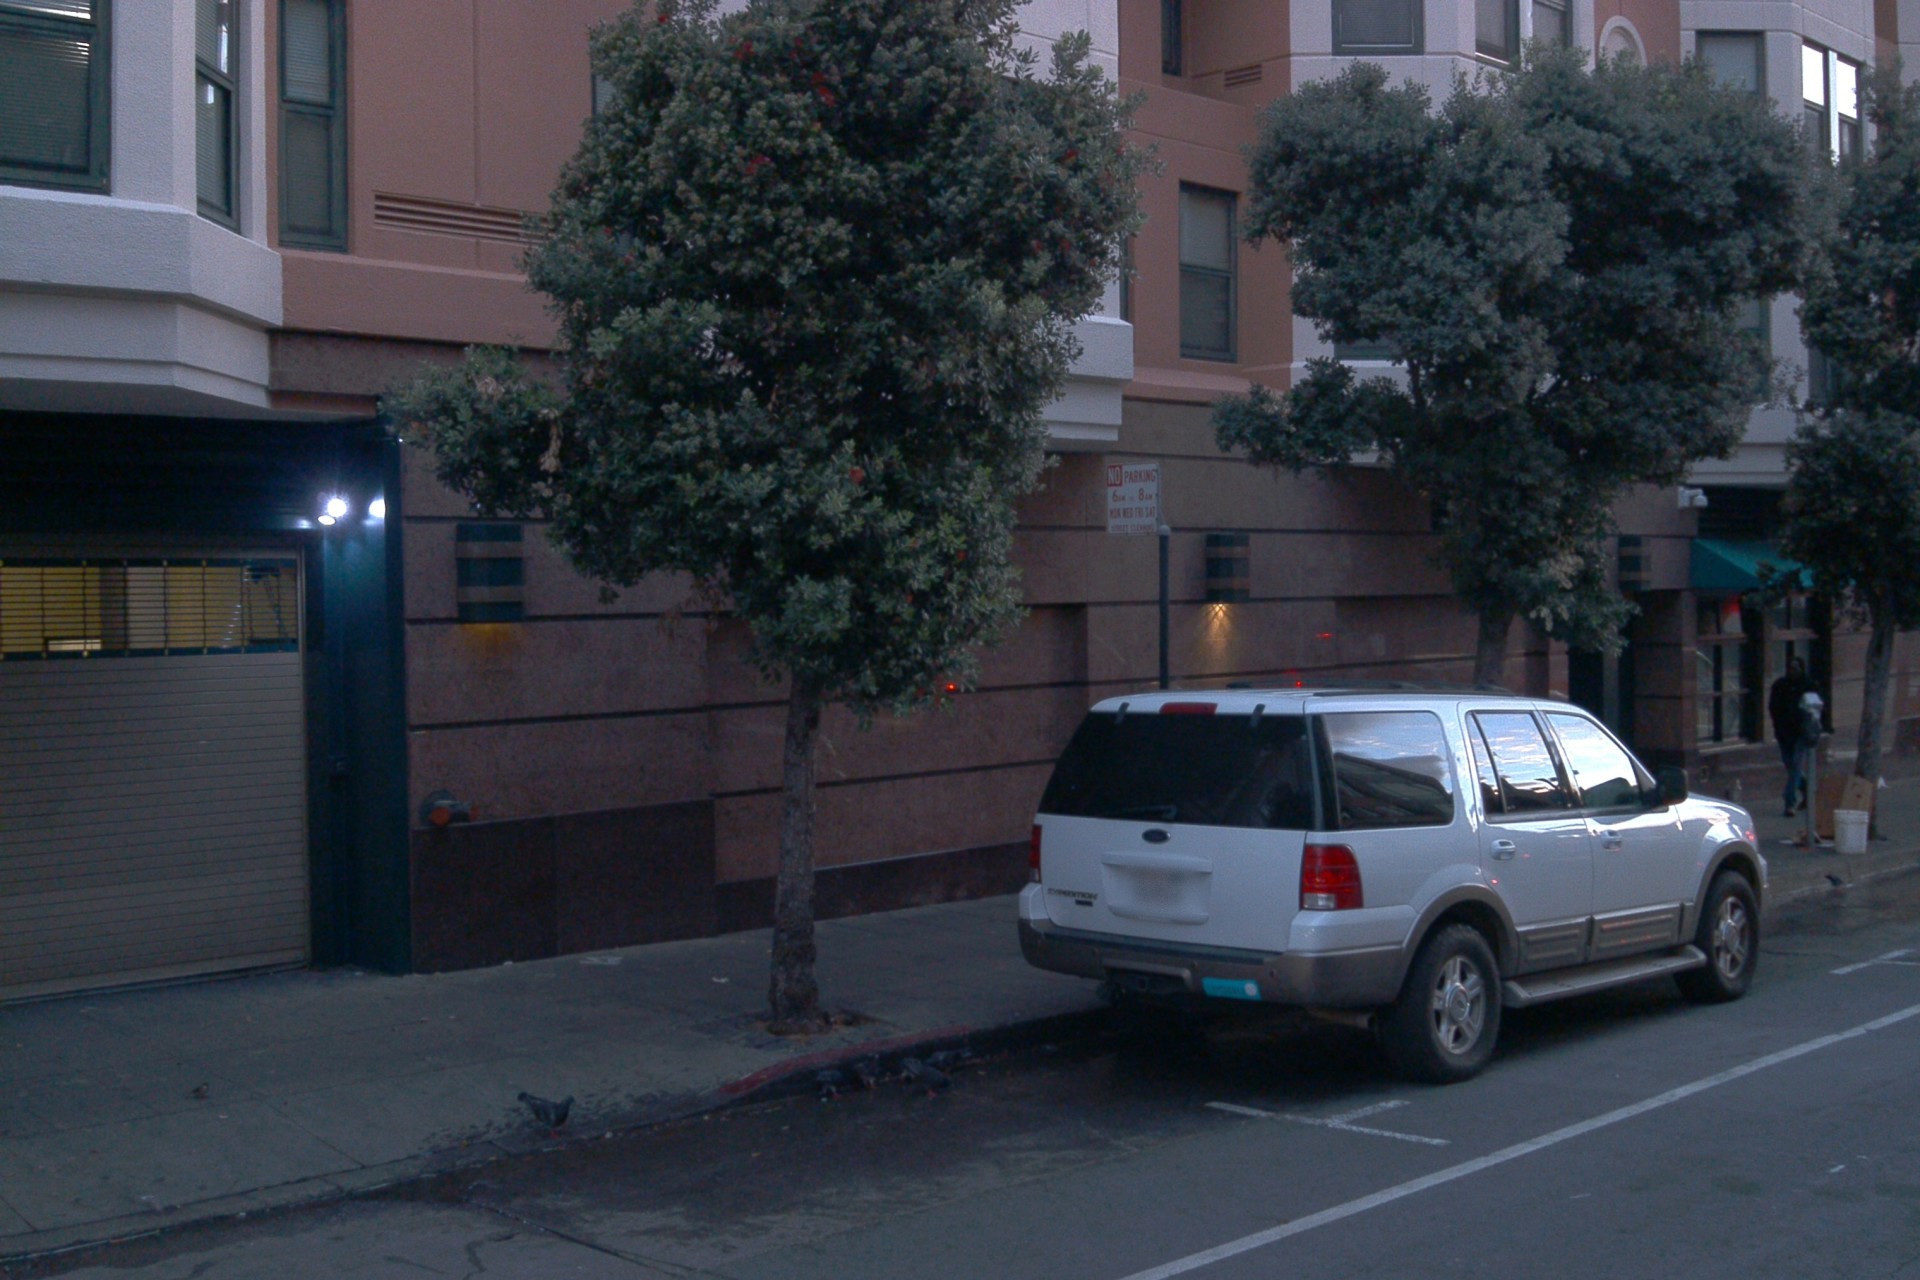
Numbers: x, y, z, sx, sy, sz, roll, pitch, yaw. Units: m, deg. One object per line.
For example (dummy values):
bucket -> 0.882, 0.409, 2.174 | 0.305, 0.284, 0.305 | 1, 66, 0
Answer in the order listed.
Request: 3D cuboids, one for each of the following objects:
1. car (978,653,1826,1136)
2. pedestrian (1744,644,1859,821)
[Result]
car -> 2.667, 1.112, 11.382 | 2.194, 1.990, 5.086 | 1, 1, 45
pedestrian -> 9.216, 0.980, 22.411 | 0.828, 1.860, 1.059 | 1, 1, 44
